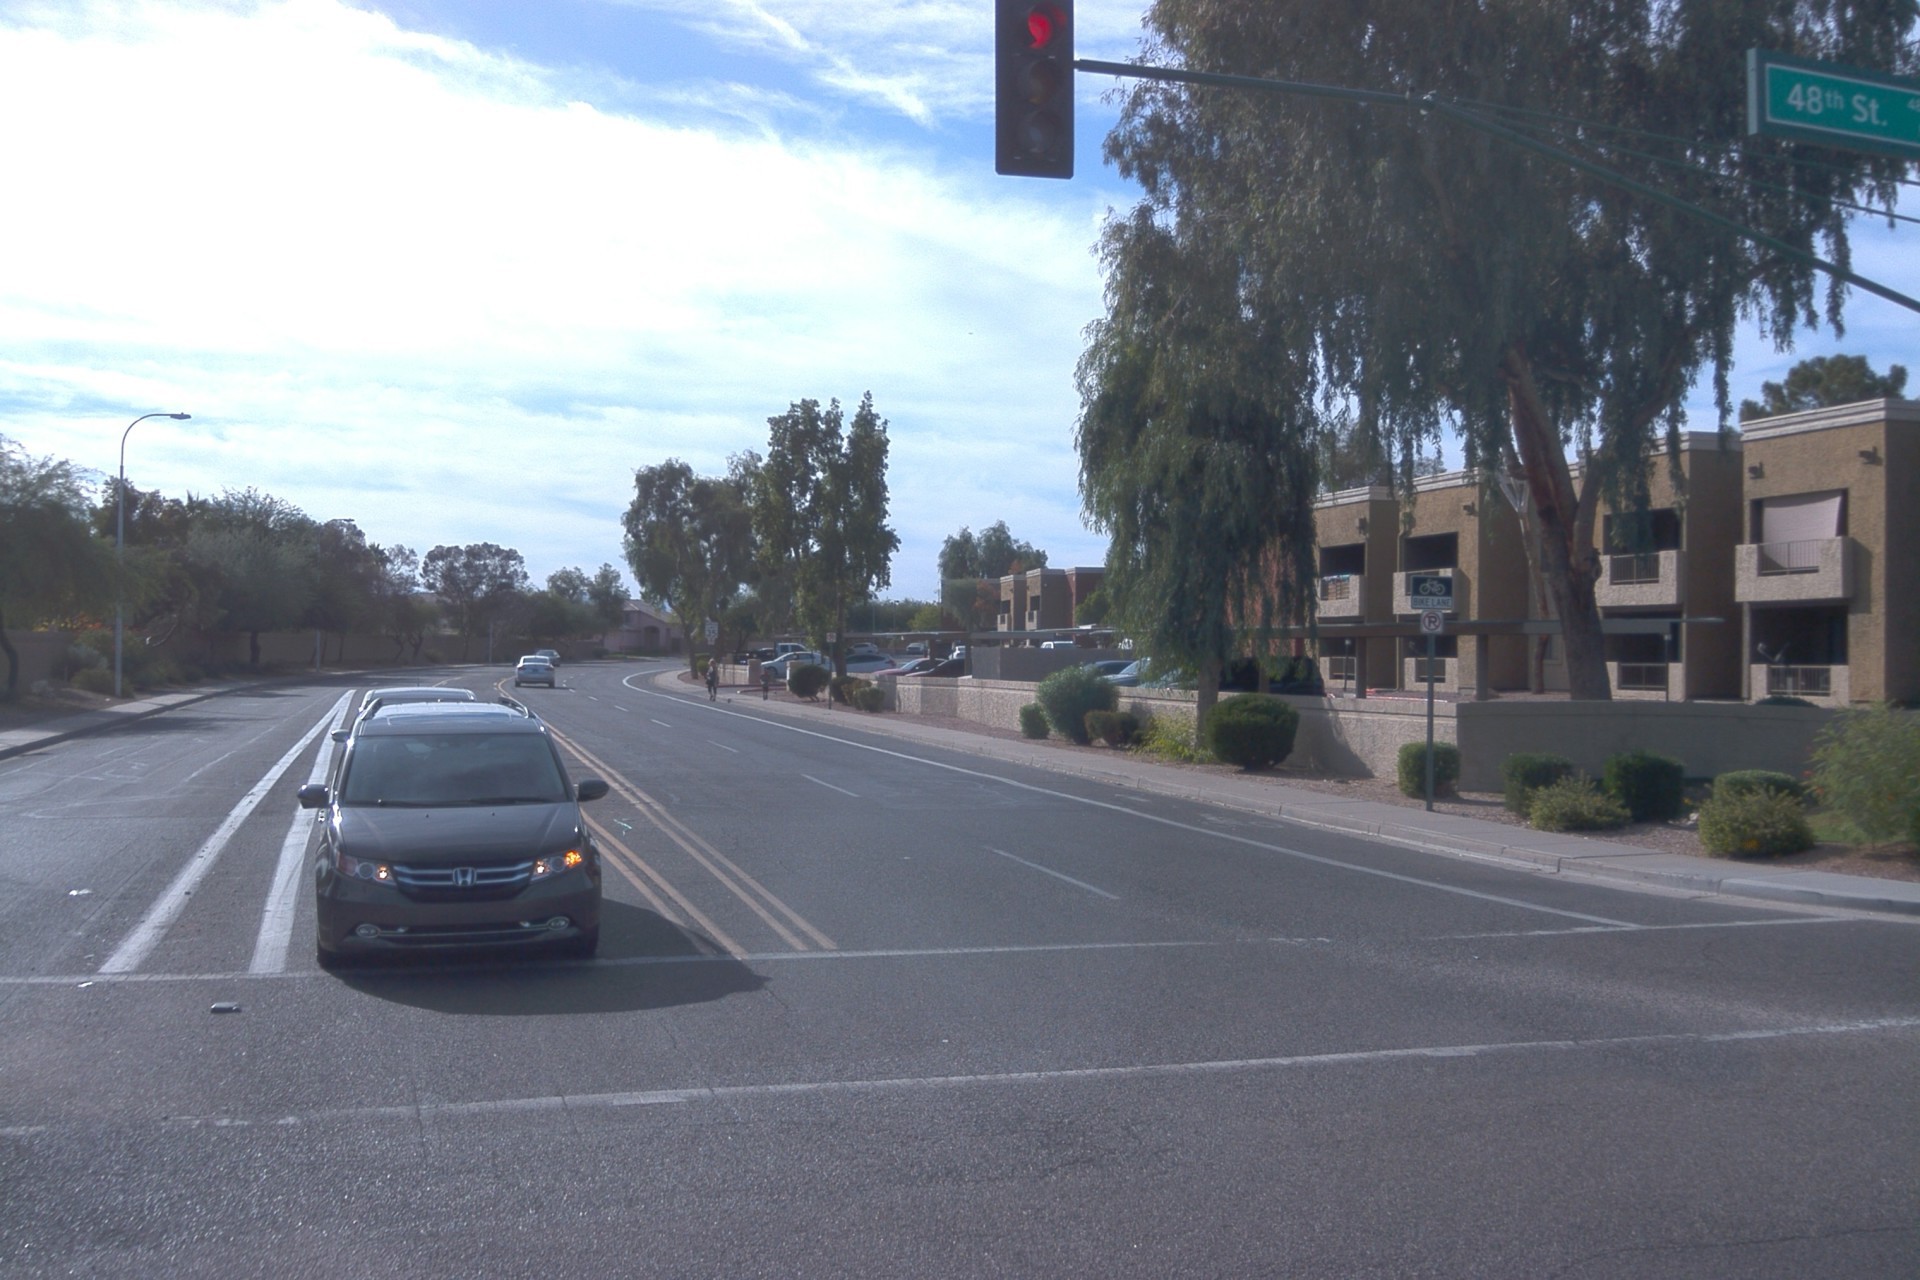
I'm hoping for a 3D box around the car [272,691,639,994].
[{"bbox_3d":[-4.098,1.401,16.520,2.378,1.850,5.317,1,0,-16],"label":"car"}]

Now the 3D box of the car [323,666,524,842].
[{"bbox_3d":[-6.443,1.269,24.796,2.103,1.830,4.349,1,0,-16],"label":"car"}]
